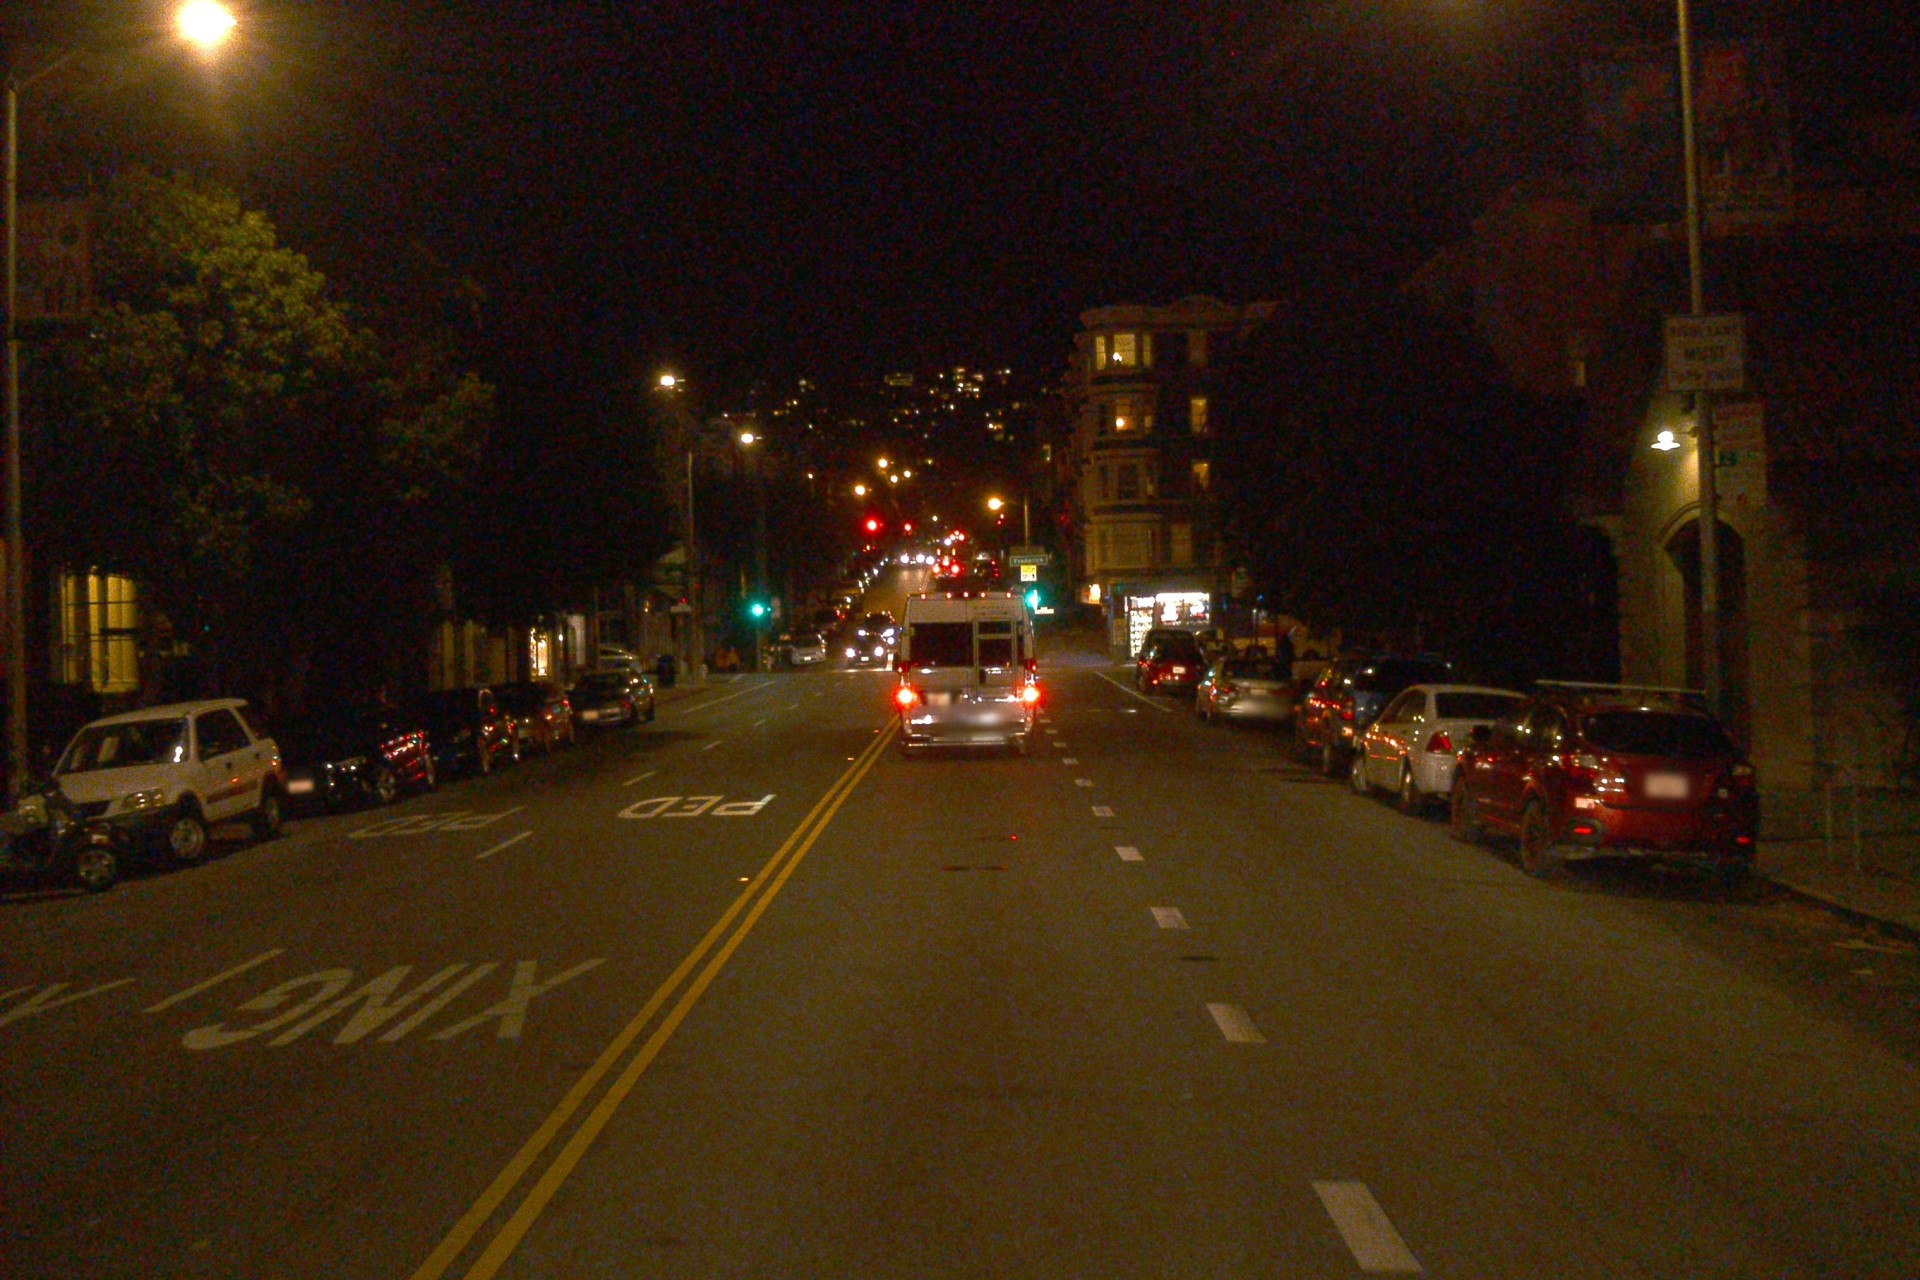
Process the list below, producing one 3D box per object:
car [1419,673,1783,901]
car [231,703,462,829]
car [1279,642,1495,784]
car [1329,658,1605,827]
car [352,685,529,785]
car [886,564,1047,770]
[{"bbox_3d":[5.678,1.221,18.952,2.036,1.750,4.549,0,0,2],"label":"car"},{"bbox_3d":[-8.467,1.692,28.935,2.003,1.460,4.673,0,0,-2],"label":"car"},{"bbox_3d":[5.969,0.961,29.467,2.265,1.840,4.685,0,0,2],"label":"car"},{"bbox_3d":[5.770,1.101,24.132,2.088,1.730,4.686,0,0,0],"label":"car"},{"bbox_3d":[-8.517,1.521,34.257,2.015,1.420,4.619,0,0,-3],"label":"car"},{"bbox_3d":[0.105,0.388,32.637,2.338,3.000,5.110,0,0,0],"label":"car"}]
